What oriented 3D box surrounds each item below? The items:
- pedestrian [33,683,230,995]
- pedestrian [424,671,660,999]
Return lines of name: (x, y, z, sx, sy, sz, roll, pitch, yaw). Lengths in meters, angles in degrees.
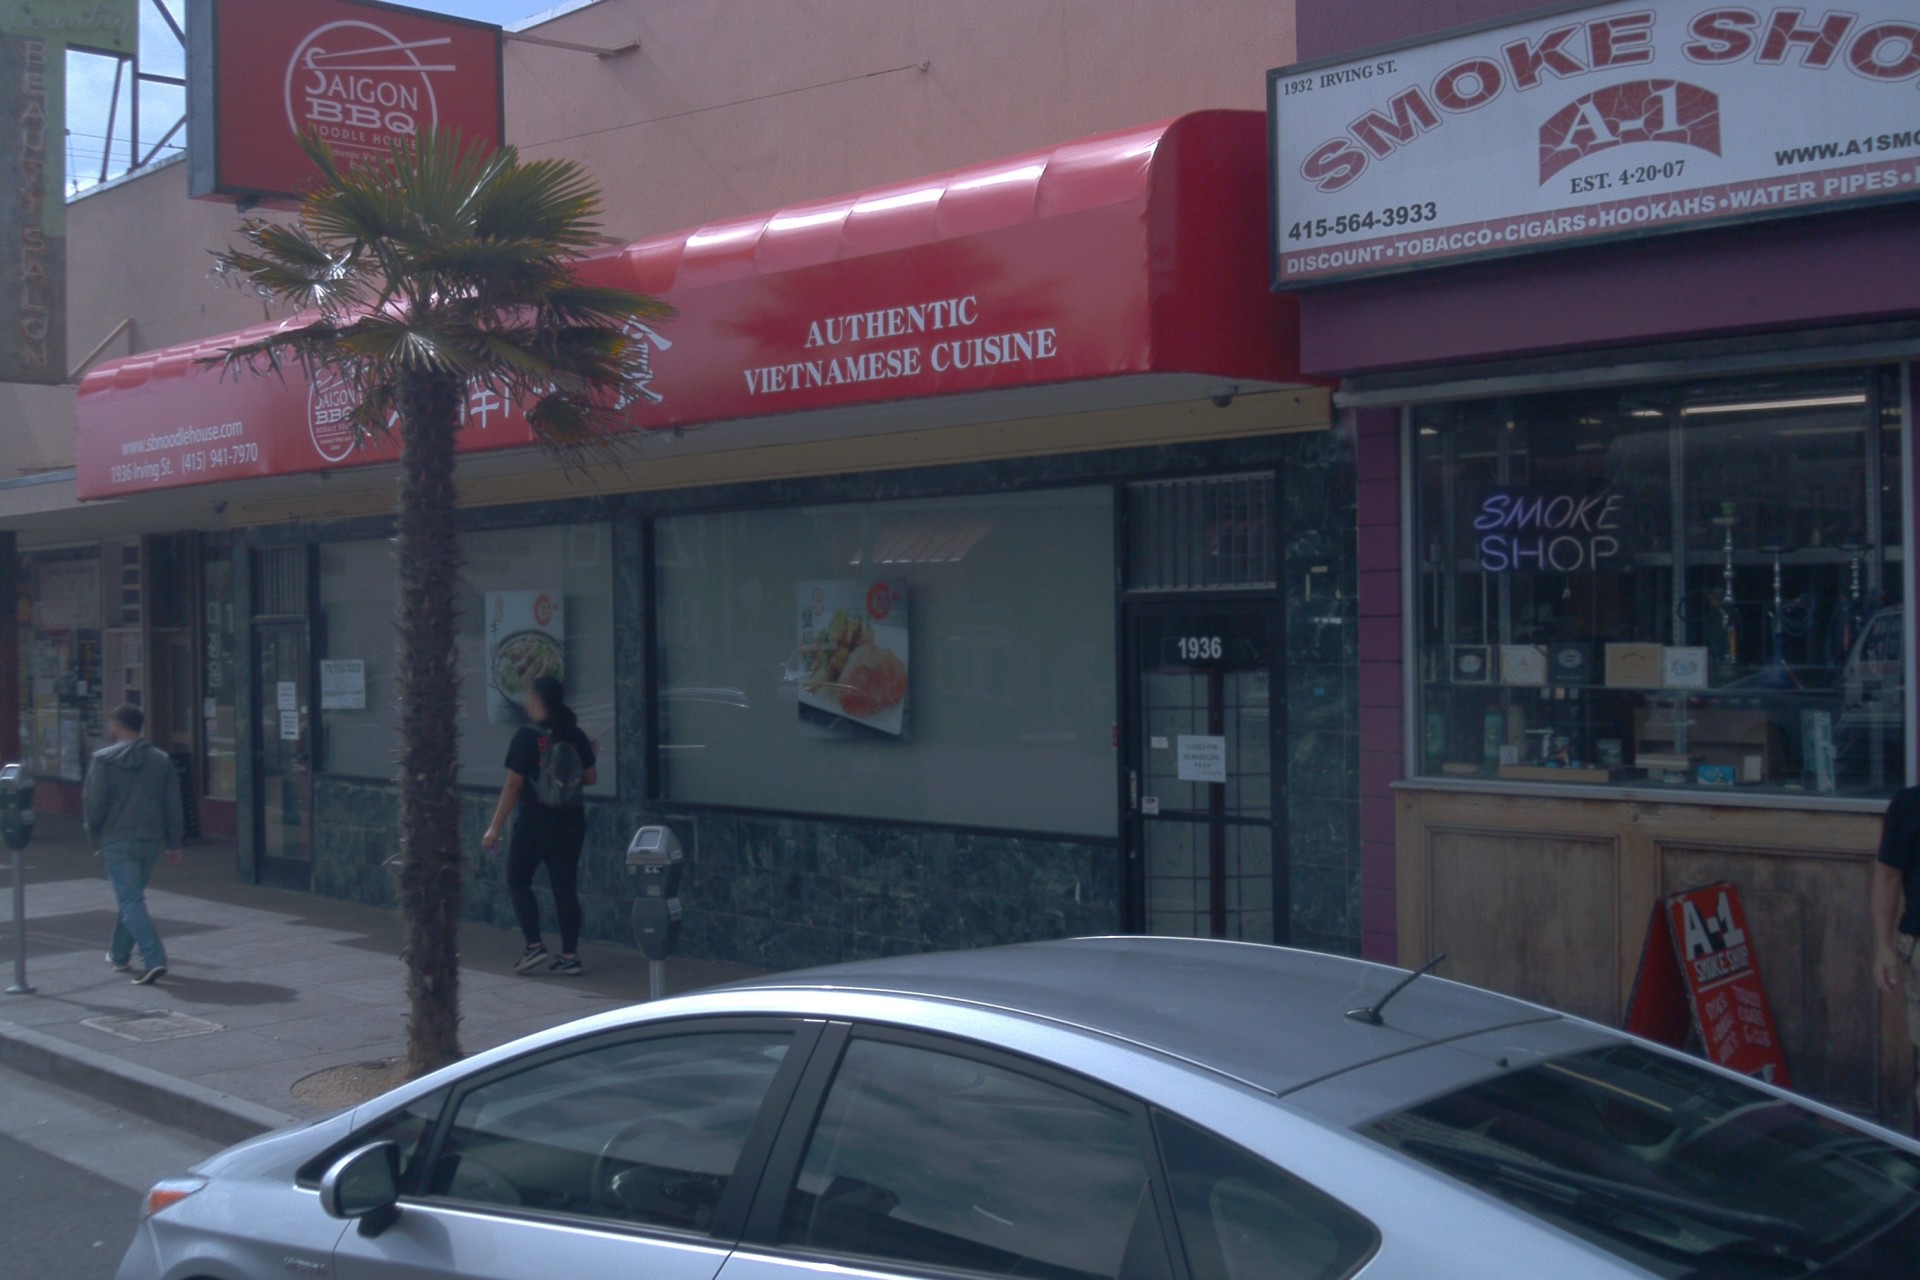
pedestrian: (-5.016, 1.157, 12.522, 0.768, 1.778, 0.995, 1, -1, -44)
pedestrian: (-2.496, 1.103, 12.330, 0.883, 1.826, 1.142, 1, -1, -44)
